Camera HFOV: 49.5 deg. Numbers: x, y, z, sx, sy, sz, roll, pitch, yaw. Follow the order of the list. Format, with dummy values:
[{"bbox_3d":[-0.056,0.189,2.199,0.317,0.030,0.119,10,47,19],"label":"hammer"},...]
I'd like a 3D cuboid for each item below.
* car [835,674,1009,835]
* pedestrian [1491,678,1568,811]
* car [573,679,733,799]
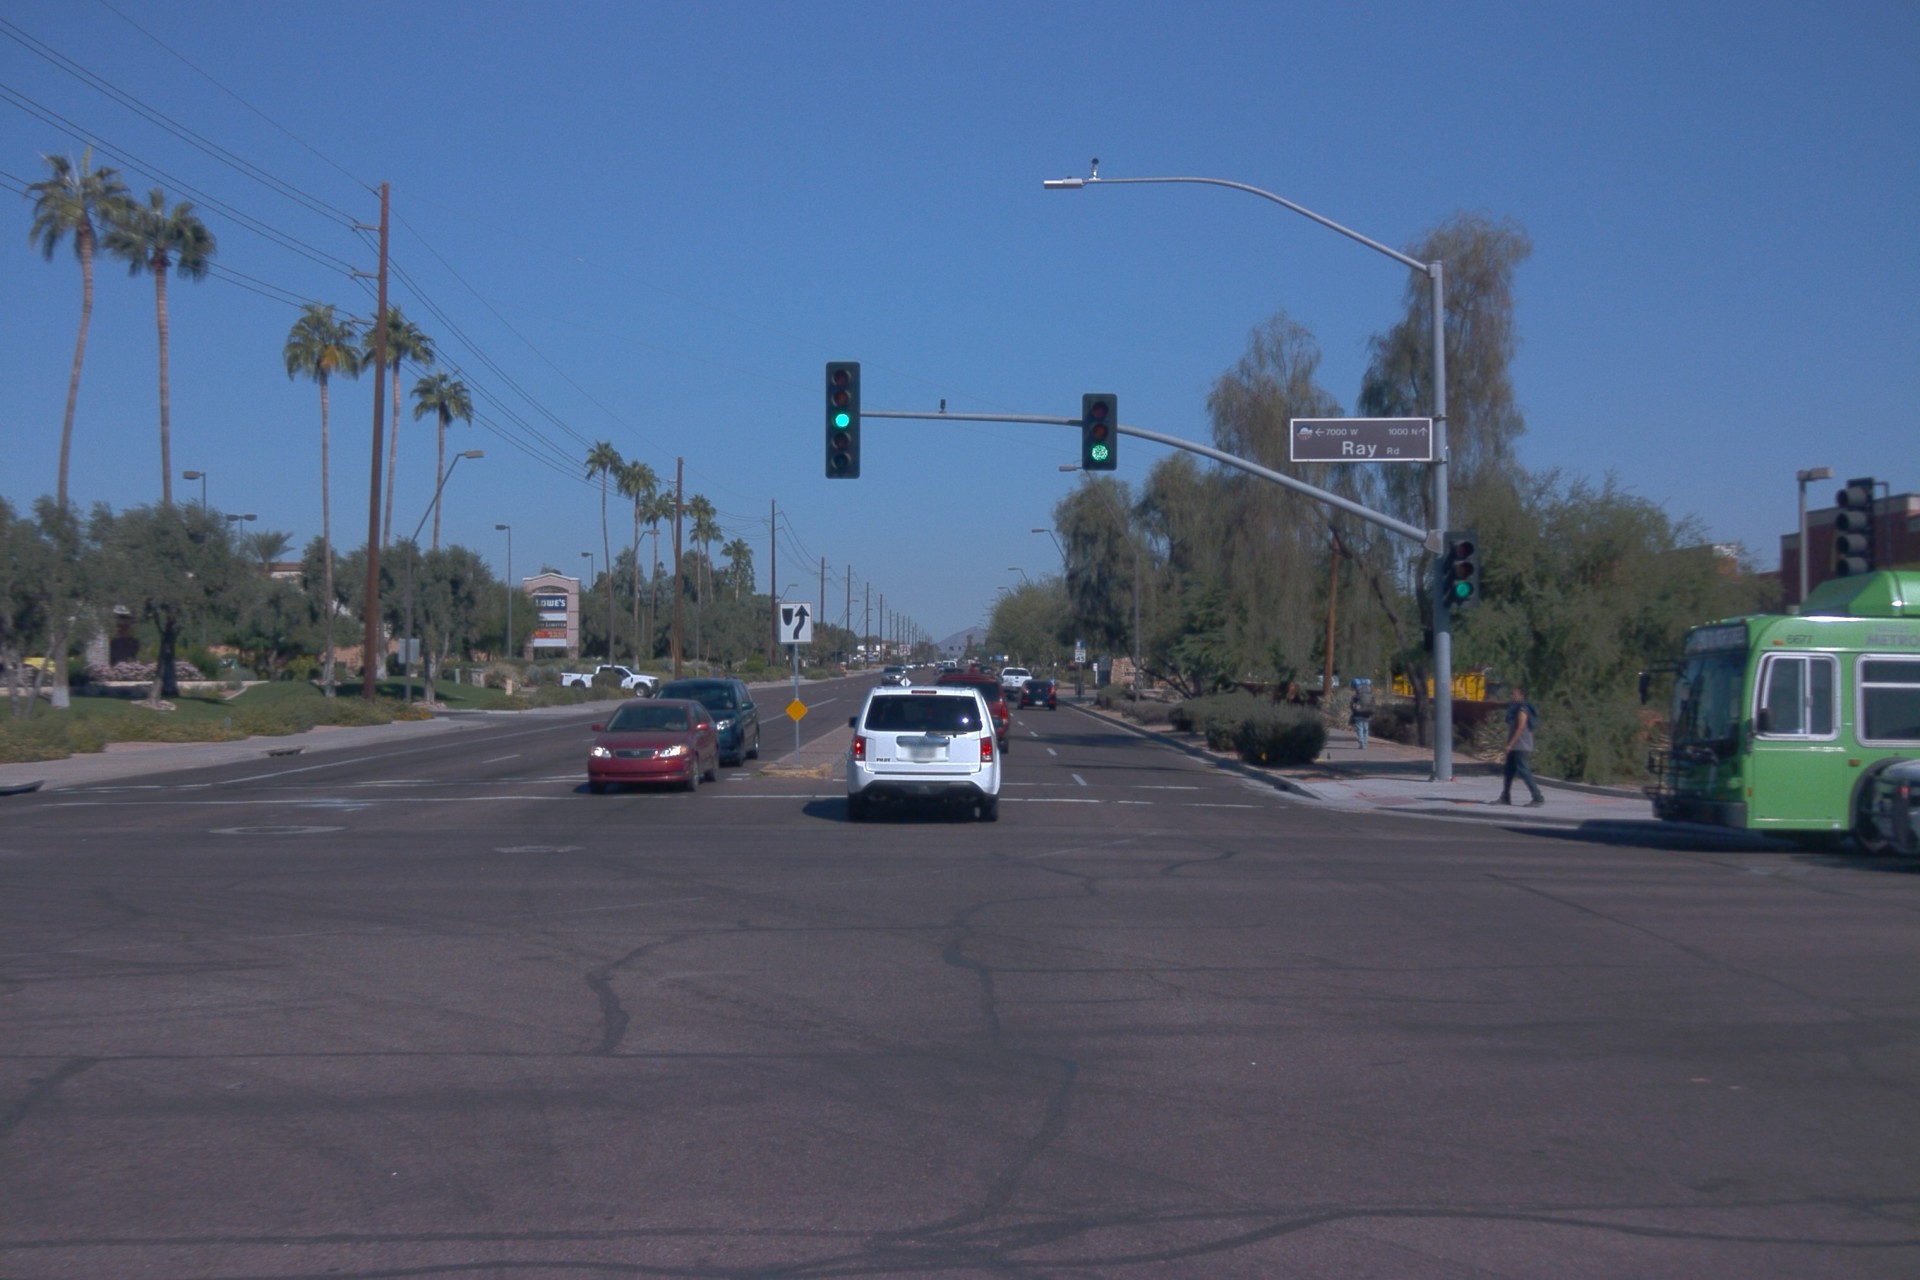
[{"bbox_3d":[-0.479,1.478,28.463,2.164,1.960,4.678,1,0,0],"label":"car"},{"bbox_3d":[8.640,1.572,31.609,1.030,1.960,0.948,1,0,10],"label":"pedestrian"},{"bbox_3d":[-5.039,1.594,34.750,1.926,1.810,4.450,1,0,1],"label":"car"}]
